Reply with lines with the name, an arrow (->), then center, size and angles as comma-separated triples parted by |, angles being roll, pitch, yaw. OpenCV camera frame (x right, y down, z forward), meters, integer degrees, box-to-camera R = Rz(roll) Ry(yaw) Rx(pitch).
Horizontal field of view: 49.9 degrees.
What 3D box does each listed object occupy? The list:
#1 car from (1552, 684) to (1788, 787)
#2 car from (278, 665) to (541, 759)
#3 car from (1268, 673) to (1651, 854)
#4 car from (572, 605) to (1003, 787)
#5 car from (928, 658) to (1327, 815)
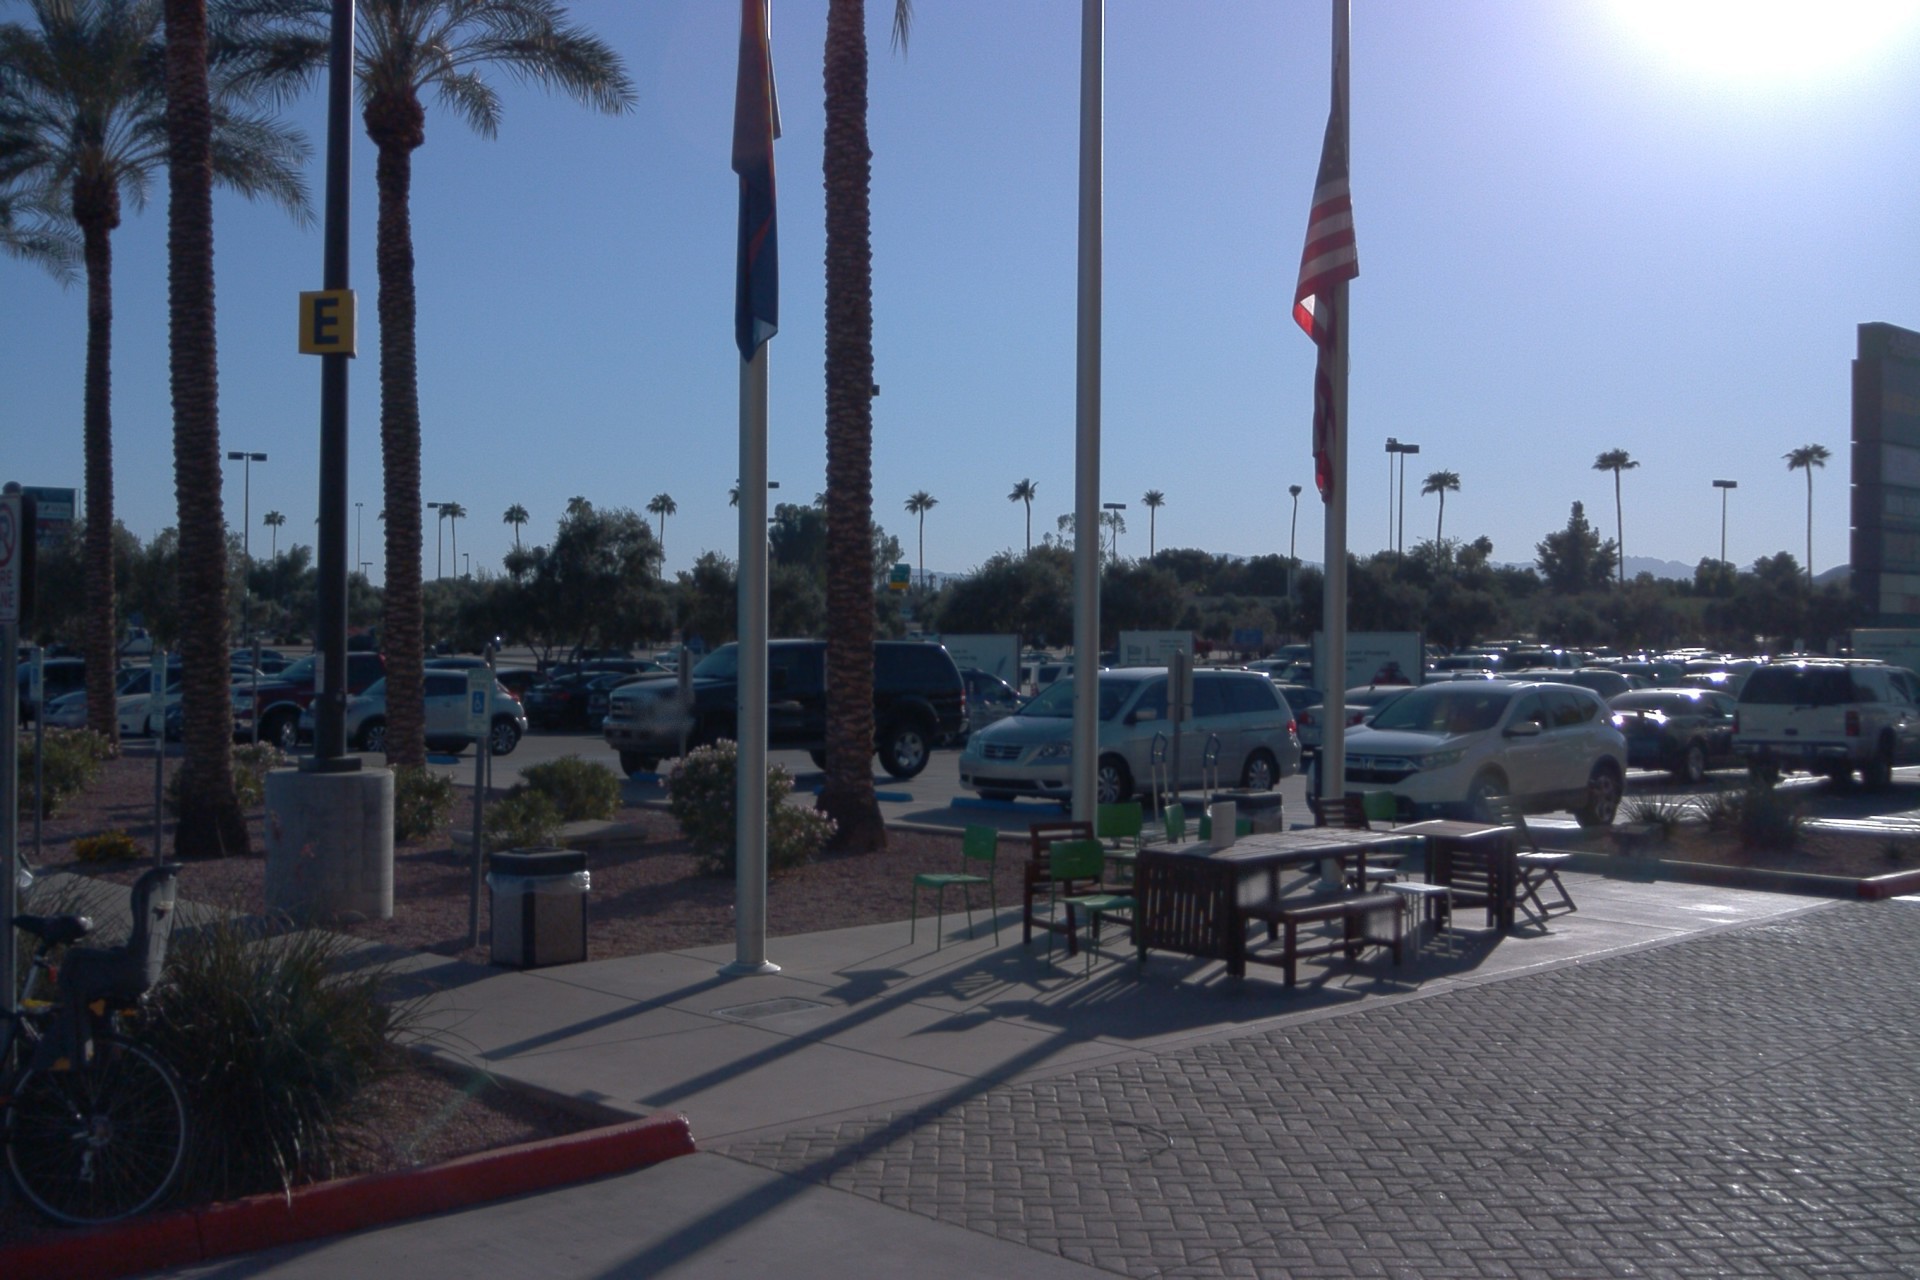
car -> 11.589, 1.499, 33.559 | 4.346, 1.490, 1.909 | 1, 0, -45
car -> -9.827, 1.240, 37.042 | 1.967, 1.550, 4.106 | 0, 0, 44
car -> 5.535, 1.237, 22.493 | 2.159, 1.710, 4.564 | 0, 0, 41
car -> -2.500, 0.791, 31.298 | 6.160, 2.490, 2.672 | 1, 0, -43
car -> 2.254, 1.139, 26.465 | 2.246, 1.780, 5.286 | 0, 0, 44
